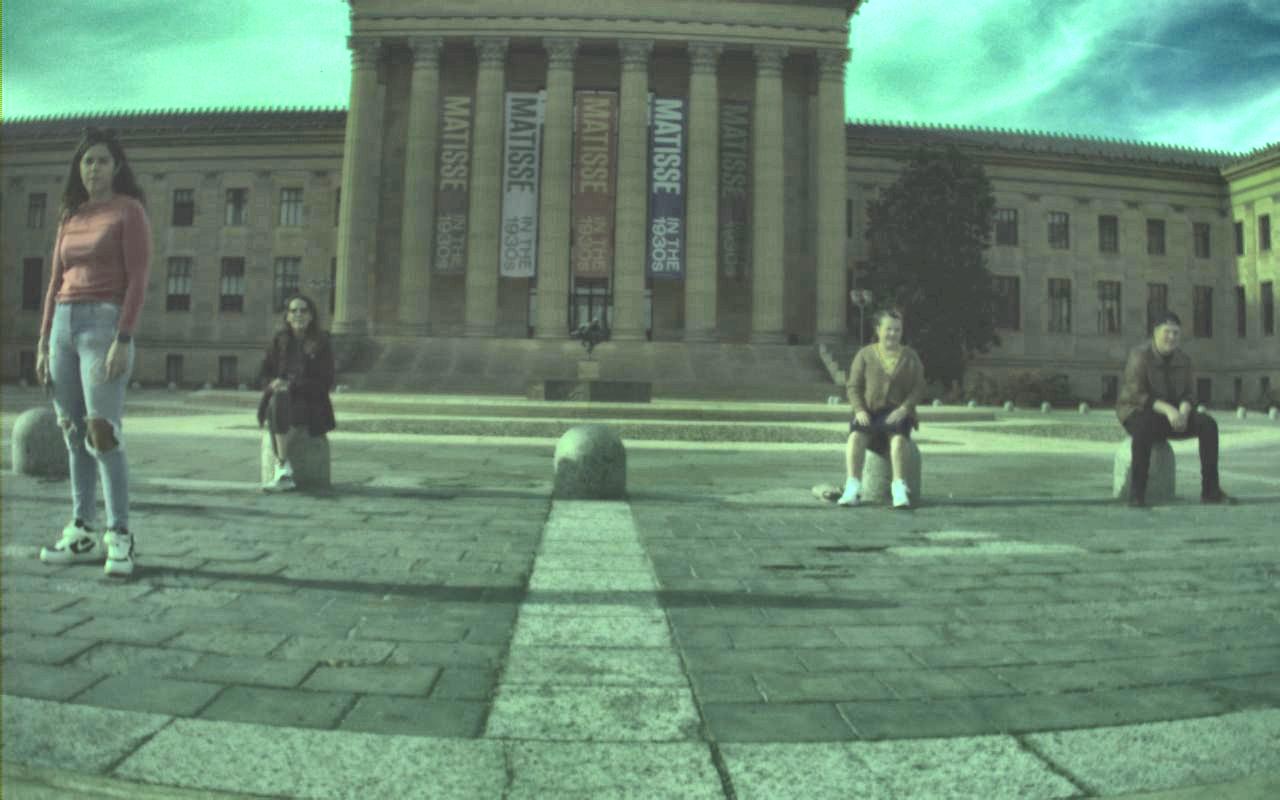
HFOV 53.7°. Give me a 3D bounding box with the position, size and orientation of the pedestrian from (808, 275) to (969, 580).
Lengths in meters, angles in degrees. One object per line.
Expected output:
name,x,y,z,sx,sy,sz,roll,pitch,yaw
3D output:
pedestrian,1.562,0.164,7.923,0.876,1.834,0.884,0,0,1

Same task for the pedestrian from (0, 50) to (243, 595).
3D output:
pedestrian,-1.981,-0.263,4.187,0.768,1.783,0.784,0,0,12

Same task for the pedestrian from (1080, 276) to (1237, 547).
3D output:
pedestrian,3.484,0.081,7.874,0.764,1.714,0.788,0,0,-17

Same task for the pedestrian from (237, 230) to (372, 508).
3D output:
pedestrian,-2.149,-0.188,7.731,0.728,1.669,0.736,0,0,-28
